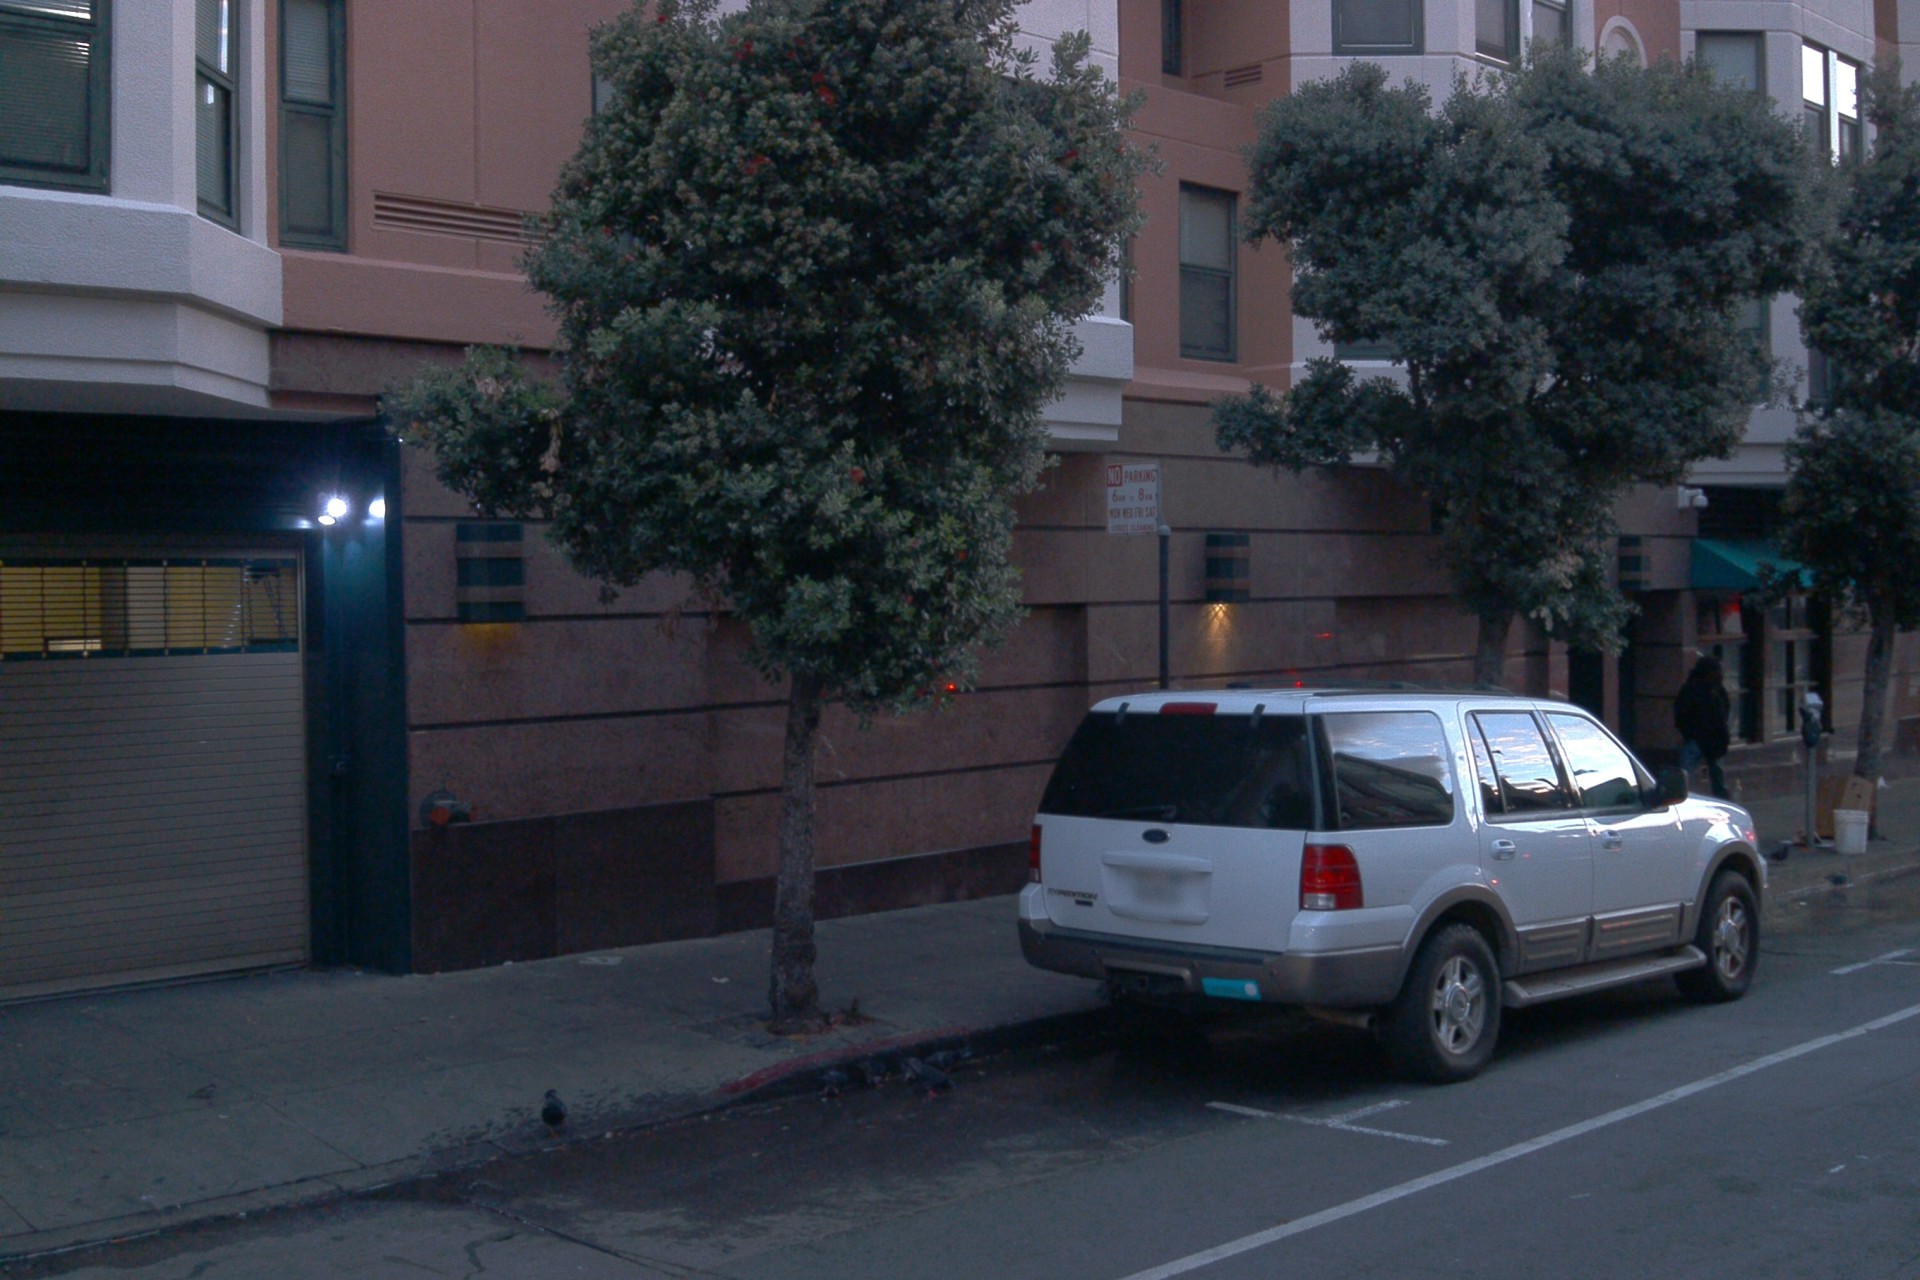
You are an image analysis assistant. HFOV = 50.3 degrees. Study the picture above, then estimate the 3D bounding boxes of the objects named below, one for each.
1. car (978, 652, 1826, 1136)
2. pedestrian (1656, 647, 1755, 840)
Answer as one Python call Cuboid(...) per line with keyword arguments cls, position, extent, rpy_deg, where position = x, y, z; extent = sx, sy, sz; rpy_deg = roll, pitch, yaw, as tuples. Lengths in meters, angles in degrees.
Cuboid(cls="car", position=(2.666, 1.111, 11.382), extent=(2.194, 1.990, 5.086), rpy_deg=(1, 1, 45))
Cuboid(cls="pedestrian", position=(7.462, 1.010, 20.533), extent=(0.828, 1.860, 1.059), rpy_deg=(0, 1, 15))
